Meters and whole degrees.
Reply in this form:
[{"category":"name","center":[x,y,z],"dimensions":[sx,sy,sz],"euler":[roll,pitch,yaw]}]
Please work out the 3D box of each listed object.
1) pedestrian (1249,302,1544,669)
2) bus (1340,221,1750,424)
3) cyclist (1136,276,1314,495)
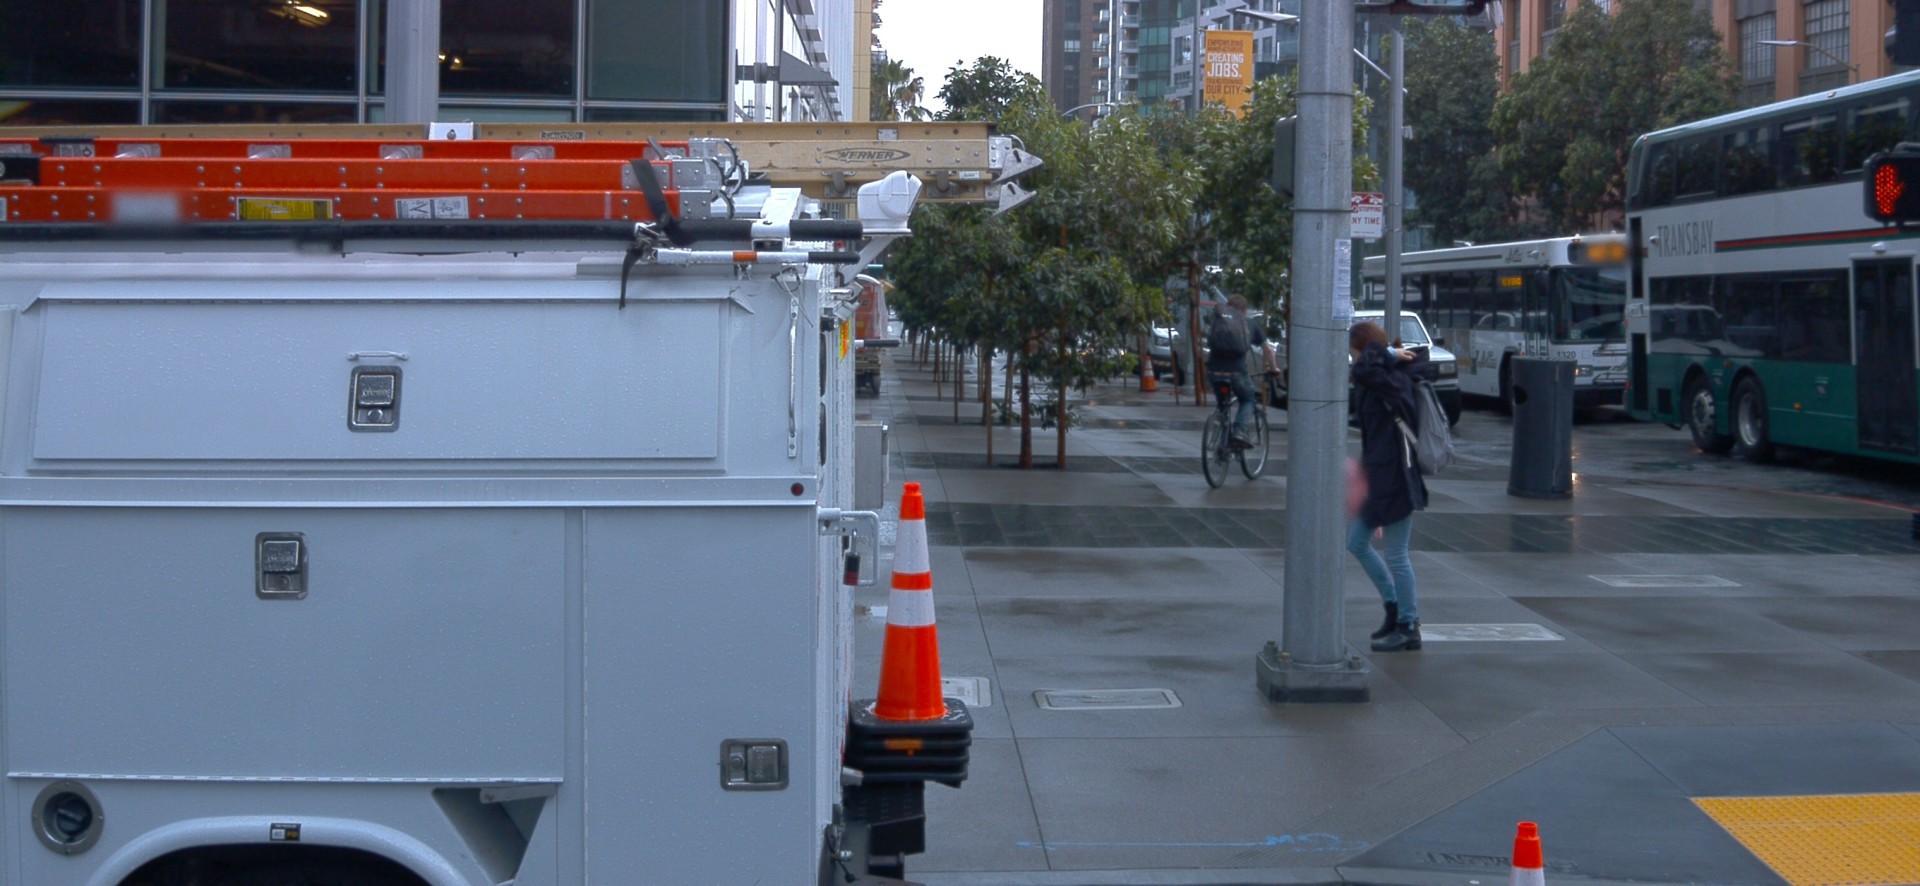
[{"category":"pedestrian","center":[2.139,0.162,10.235],"dimensions":[1.174,1.685,1.085],"euler":[0,2,-4]},{"category":"bus","center":[9.873,-2.437,36.845],"dimensions":[3.258,2.996,12.707],"euler":[0,6,-2]},{"category":"cyclist","center":[2.350,-0.564,17.950],"dimensions":[1.209,1.741,2.032],"euler":[1,4,17]}]
